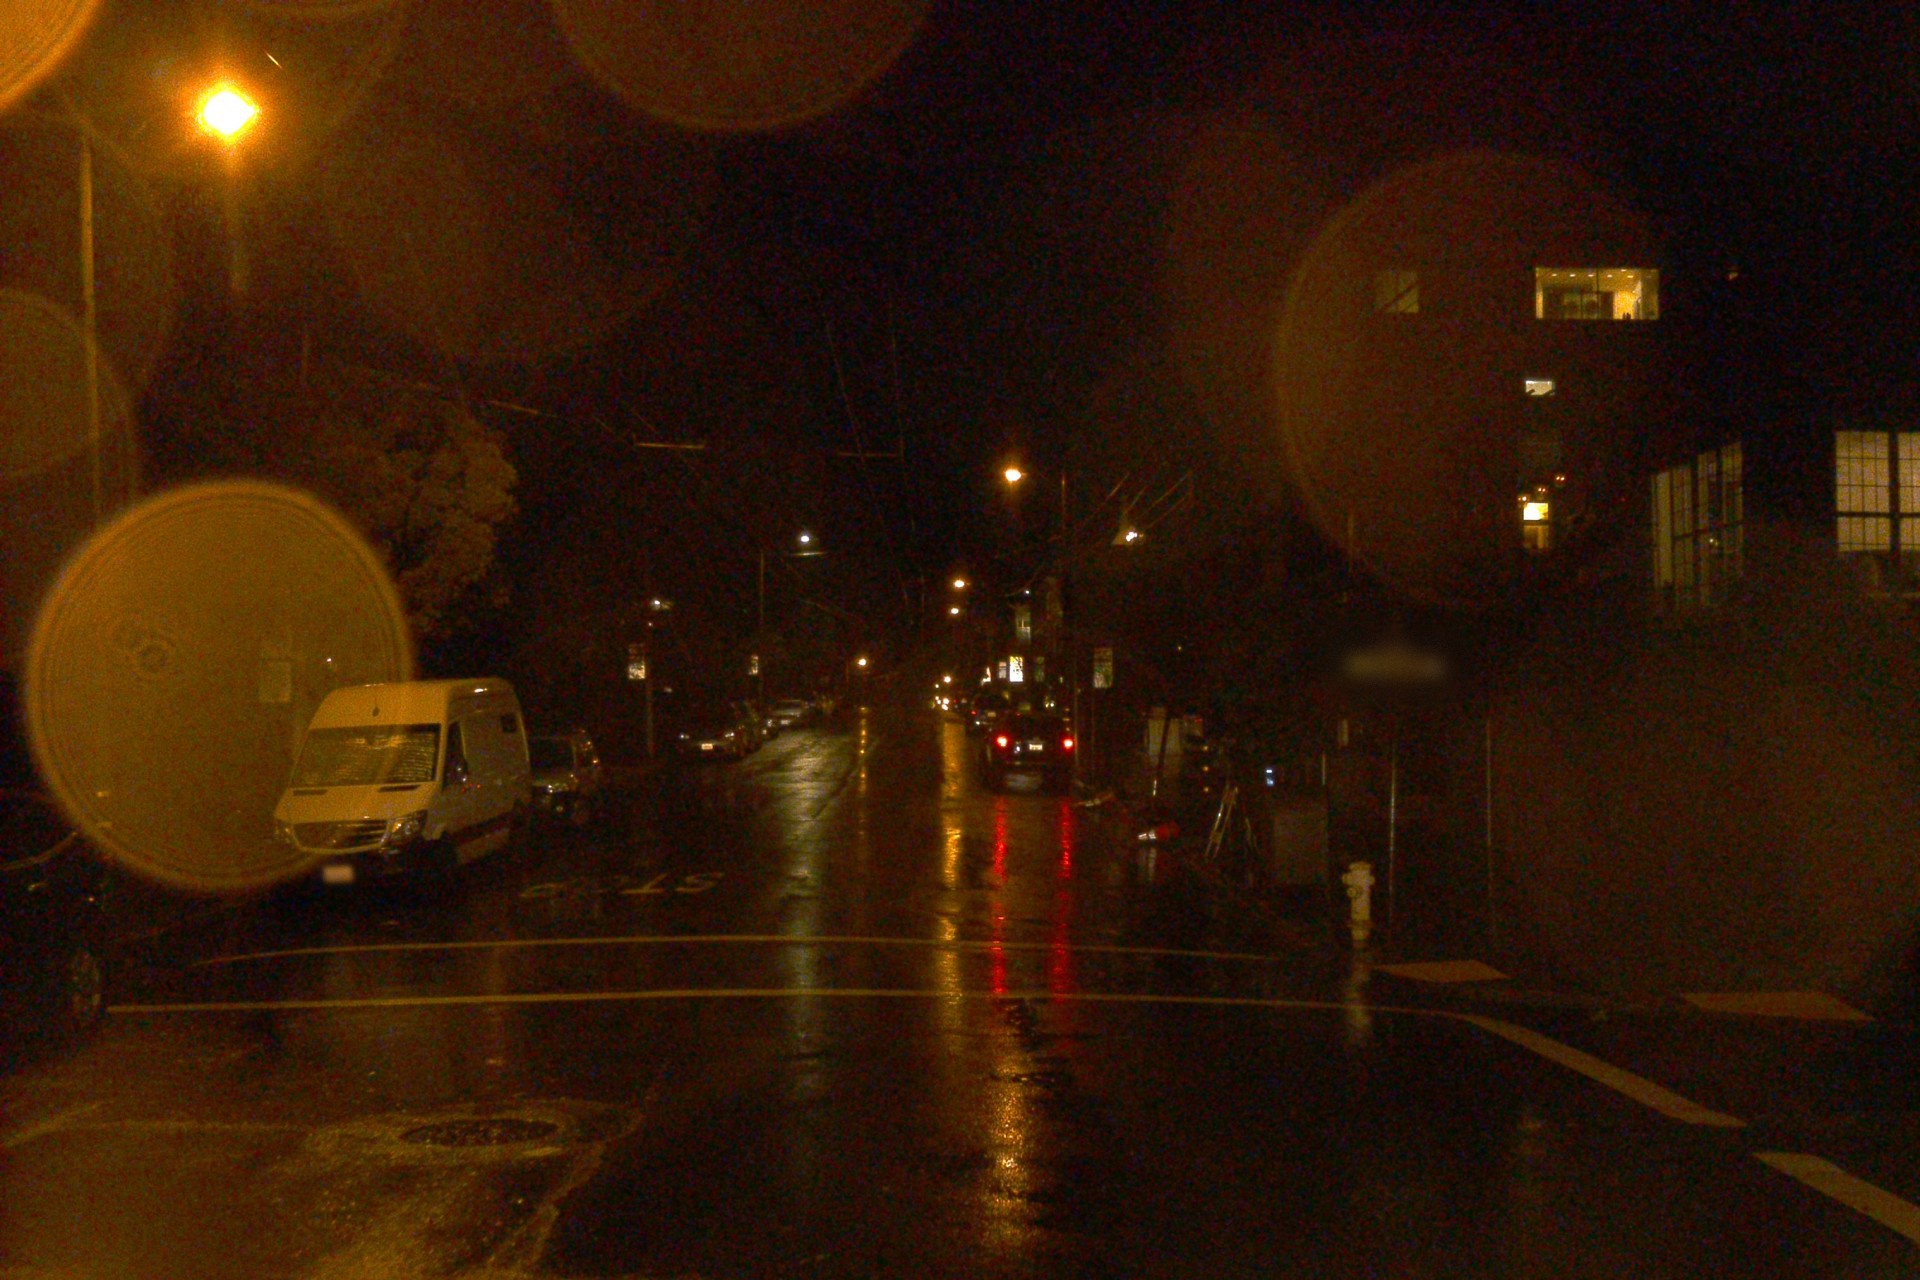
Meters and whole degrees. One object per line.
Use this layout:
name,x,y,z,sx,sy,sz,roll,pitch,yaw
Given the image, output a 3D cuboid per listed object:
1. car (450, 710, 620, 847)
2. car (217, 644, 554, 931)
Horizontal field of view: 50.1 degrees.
car,-7.358,2.356,36.051,2.155,1.990,4.618,1,1,-2
car,-7.116,1.681,26.327,2.524,3.100,5.983,1,1,1
